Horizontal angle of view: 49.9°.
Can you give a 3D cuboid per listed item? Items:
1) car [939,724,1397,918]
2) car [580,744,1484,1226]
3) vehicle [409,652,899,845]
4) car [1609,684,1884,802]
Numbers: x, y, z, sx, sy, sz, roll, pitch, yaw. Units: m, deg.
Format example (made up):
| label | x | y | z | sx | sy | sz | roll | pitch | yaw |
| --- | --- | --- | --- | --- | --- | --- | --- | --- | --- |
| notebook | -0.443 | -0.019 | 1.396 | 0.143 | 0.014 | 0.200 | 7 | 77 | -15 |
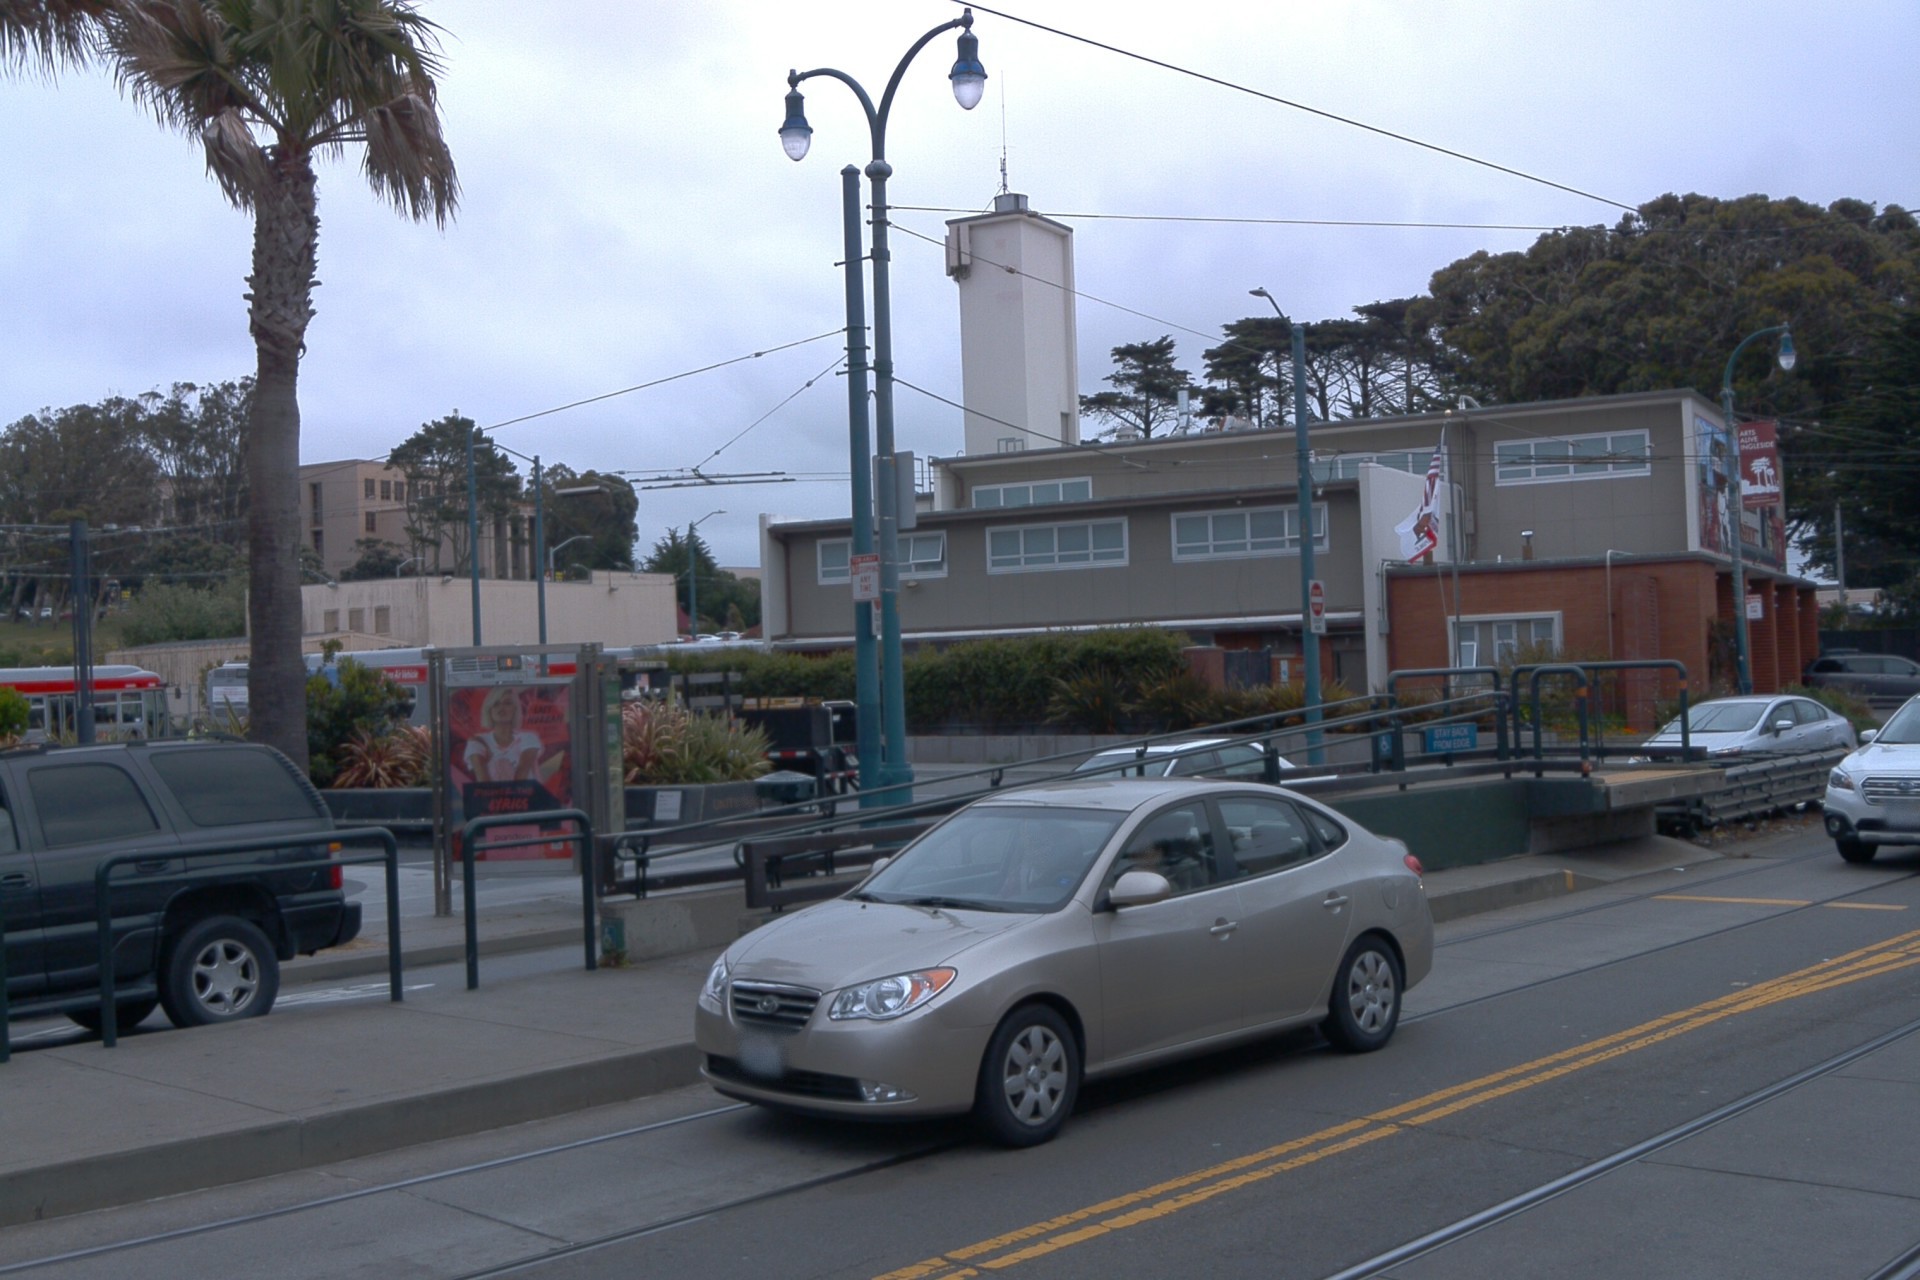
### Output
| label | x | y | z | sx | sy | sz | roll | pitch | yaw |
| --- | --- | --- | --- | --- | --- | --- | --- | --- | --- |
| car | 2.196 | 1.711 | 20.777 | 4.698 | 1.450 | 2.030 | -1 | 1 | -44 |
| car | 0.557 | 1.443 | 10.248 | 2.021 | 1.540 | 4.465 | 1 | 1 | 44 |
| vehicle | -4.873 | 1.599 | 32.860 | 7.211 | 2.700 | 2.889 | 0 | 1 | 22 |
| car | 11.459 | 1.429 | 29.939 | 4.286 | 1.420 | 1.996 | -1 | 1 | -42 |
